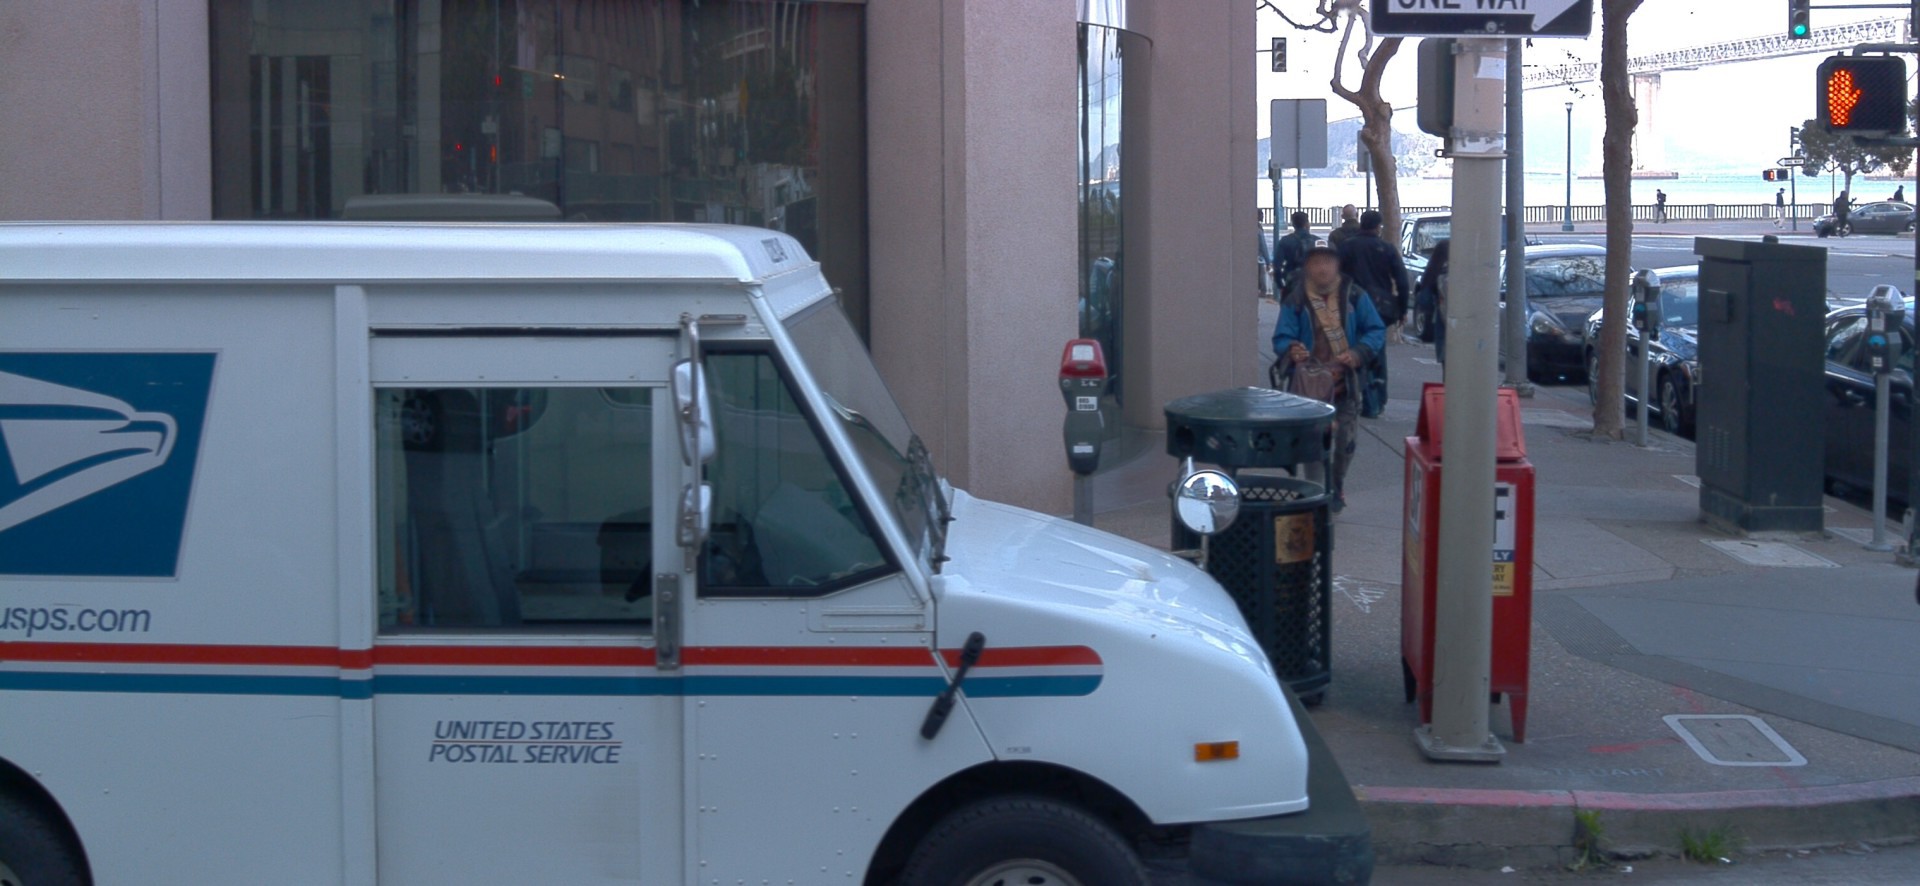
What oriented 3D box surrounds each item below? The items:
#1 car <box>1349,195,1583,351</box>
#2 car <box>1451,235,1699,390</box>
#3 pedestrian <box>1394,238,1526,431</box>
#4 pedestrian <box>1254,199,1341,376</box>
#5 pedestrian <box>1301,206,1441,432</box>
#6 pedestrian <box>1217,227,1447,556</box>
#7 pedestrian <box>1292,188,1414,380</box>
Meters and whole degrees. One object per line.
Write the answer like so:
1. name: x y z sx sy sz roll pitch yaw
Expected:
1. car: 7.670 -2.713 31.700 2.438 2.218 4.887 0 6 0
2. car: 7.339 -1.665 24.913 1.889 1.641 4.065 0 6 2
3. pedestrian: 4.278 -0.952 17.642 0.873 1.586 1.034 0 3 0
4. pedestrian: 3.639 -1.706 22.218 0.732 1.865 0.947 0 3 -3
5. pedestrian: 3.514 -1.104 17.678 0.961 1.865 1.349 0 3 1
6. pedestrian: 2.096 -0.343 11.779 1.181 1.764 1.185 0 3 5
7. pedestrian: 4.291 -1.775 22.538 1.012 2.044 1.356 0 3 -3
